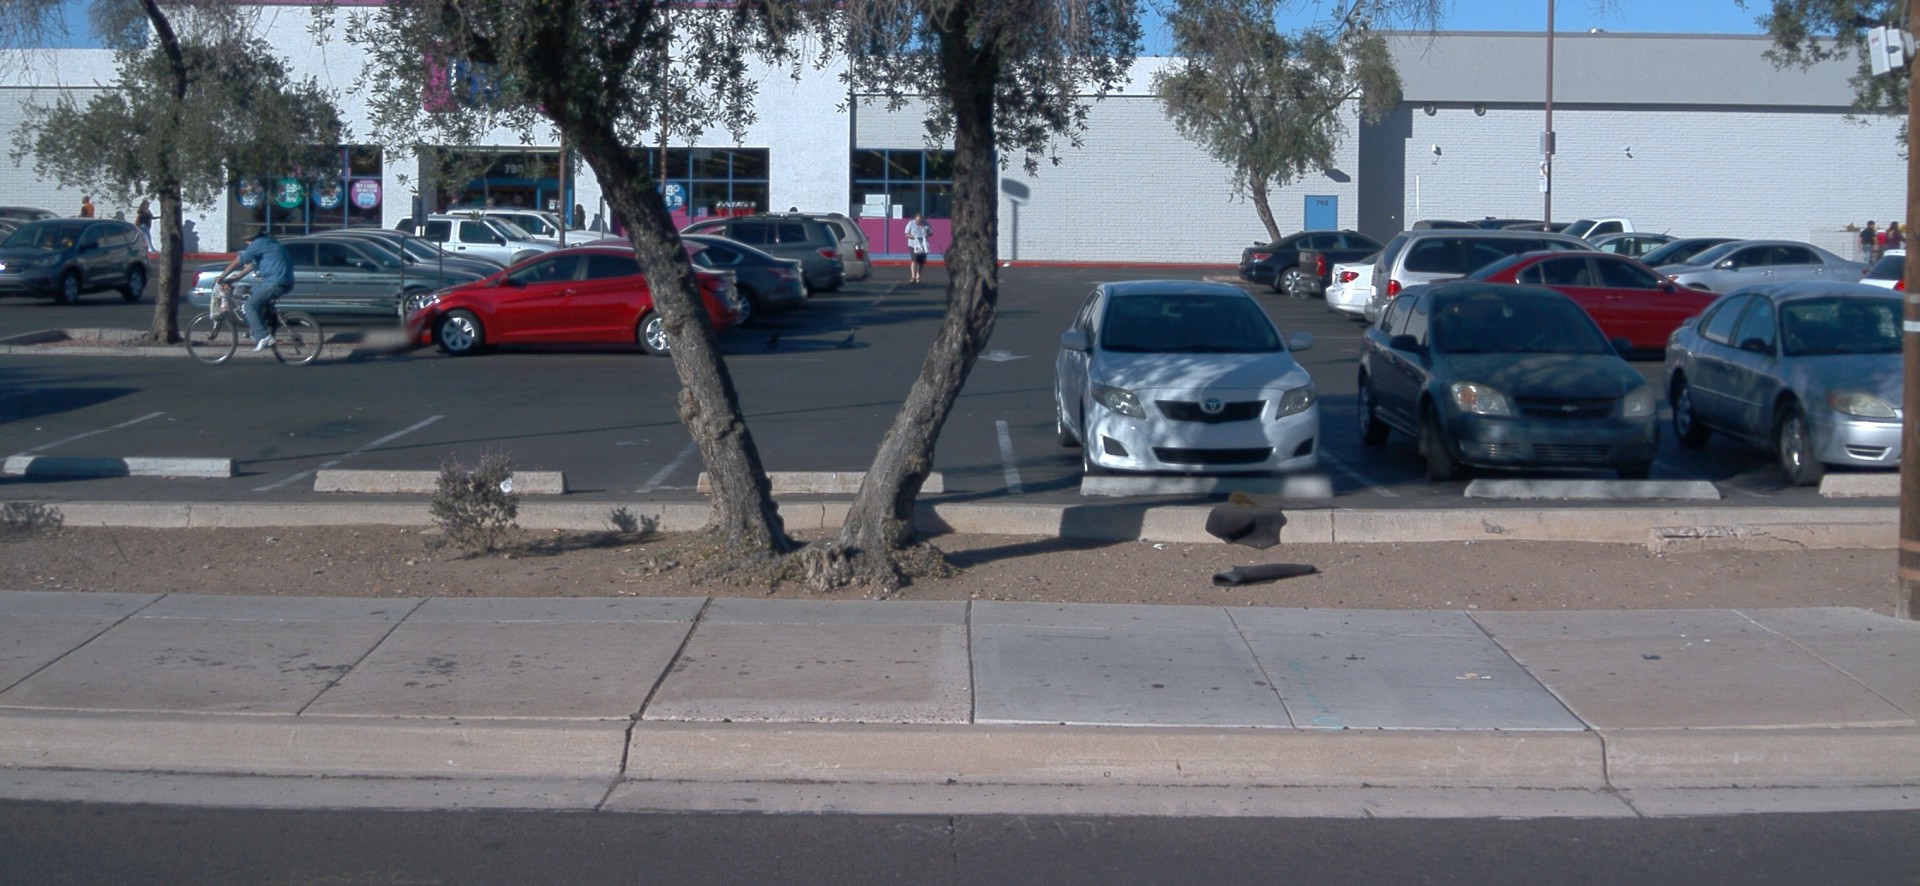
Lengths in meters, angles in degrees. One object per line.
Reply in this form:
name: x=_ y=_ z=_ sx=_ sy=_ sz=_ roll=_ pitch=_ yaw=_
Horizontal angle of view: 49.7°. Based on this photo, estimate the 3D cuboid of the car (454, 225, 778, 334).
car: x=-5.485 y=-2.673 z=33.622 sx=4.908 sy=1.707 sz=2.129 roll=0 pitch=3 yaw=-2

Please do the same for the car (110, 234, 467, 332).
car: x=-10.709 y=-2.597 z=33.340 sx=4.999 sy=1.507 sz=2.140 roll=0 pitch=4 yaw=1

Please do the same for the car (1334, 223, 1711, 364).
car: x=8.186 y=-2.232 z=30.593 sx=5.050 sy=1.987 sz=2.183 roll=0 pitch=3 yaw=3

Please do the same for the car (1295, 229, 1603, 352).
car: x=7.881 y=-2.508 z=33.698 sx=4.509 sy=1.928 sz=2.057 roll=0 pitch=3 yaw=-2

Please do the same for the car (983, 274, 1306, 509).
car: x=1.277 y=-0.533 z=16.289 sx=2.061 sy=1.504 sz=4.540 roll=0 pitch=5 yaw=-1

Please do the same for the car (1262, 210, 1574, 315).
car: x=8.517 y=-3.402 z=38.955 sx=5.367 sy=1.897 sz=2.353 roll=0 pitch=3 yaw=-1

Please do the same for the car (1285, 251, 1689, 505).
car: x=4.001 y=-0.656 z=16.566 sx=2.068 sy=1.724 sz=4.403 roll=0 pitch=5 yaw=-1

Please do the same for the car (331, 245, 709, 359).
car: x=-5.770 y=-1.906 z=27.659 sx=4.630 sy=1.457 sz=2.022 roll=0 pitch=4 yaw=-2

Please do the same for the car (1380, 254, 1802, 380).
car: x=8.409 y=-1.730 z=27.940 sx=5.039 sy=1.607 sz=2.160 roll=0 pitch=4 yaw=-2

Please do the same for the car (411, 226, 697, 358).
car: x=-5.918 y=-2.247 z=30.573 sx=3.873 sy=1.888 sz=1.794 roll=0 pitch=3 yaw=-2

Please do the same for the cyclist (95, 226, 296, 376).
cyclist: x=-9.165 y=-1.724 z=24.922 sx=2.031 sy=1.760 sz=0.990 roll=0 pitch=1 yaw=1

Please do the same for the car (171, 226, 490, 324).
car: x=-10.933 y=-2.960 z=36.303 sx=4.906 sy=1.667 sz=2.177 roll=0 pitch=3 yaw=-2
